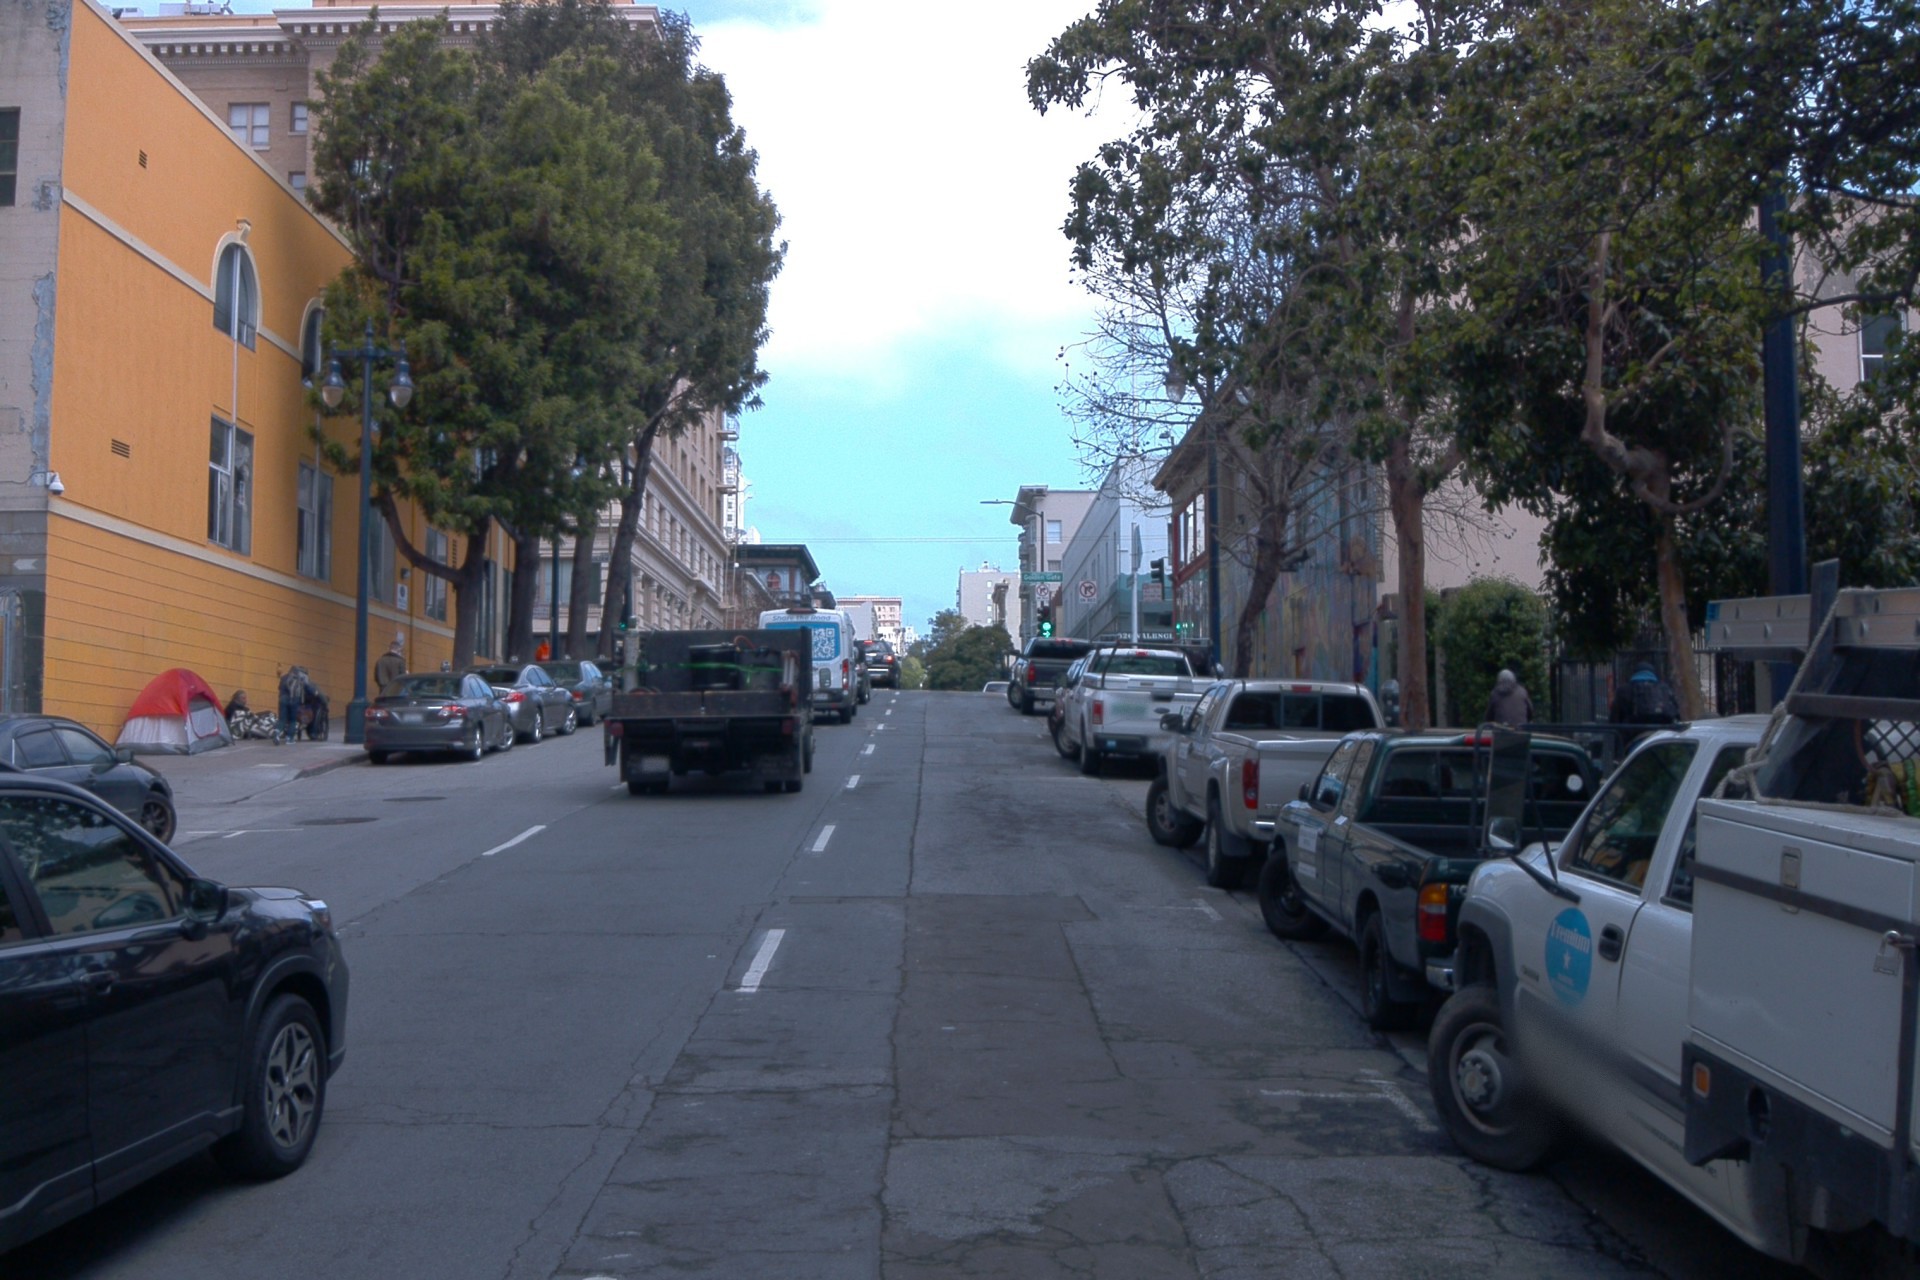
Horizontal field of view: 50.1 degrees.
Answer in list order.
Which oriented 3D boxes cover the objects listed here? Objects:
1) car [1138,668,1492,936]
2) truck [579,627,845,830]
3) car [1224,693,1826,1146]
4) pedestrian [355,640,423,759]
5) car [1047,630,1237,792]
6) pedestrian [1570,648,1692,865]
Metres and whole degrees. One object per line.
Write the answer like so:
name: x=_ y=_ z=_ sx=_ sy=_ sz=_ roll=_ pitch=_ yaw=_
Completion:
car: x=2.959 y=1.283 z=18.352 sx=2.035 sy=1.920 sz=5.022 roll=0 pitch=1 yaw=-3
truck: x=-3.074 y=1.017 z=27.169 sx=2.774 sy=2.330 sz=6.297 roll=0 pitch=1 yaw=0
car: x=3.024 y=1.395 z=12.349 sx=2.053 sy=1.950 sz=5.116 roll=0 pitch=1 yaw=-2
pedestrian: x=-10.007 y=1.032 z=36.071 sx=0.992 sy=2.050 sz=0.876 roll=0 pitch=1 yaw=-4
car: x=2.650 y=0.974 z=31.296 sx=2.130 sy=2.200 sz=5.416 roll=0 pitch=1 yaw=-3
pedestrian: x=5.802 y=0.988 z=17.820 sx=0.775 sy=1.820 sz=0.919 roll=0 pitch=1 yaw=2
